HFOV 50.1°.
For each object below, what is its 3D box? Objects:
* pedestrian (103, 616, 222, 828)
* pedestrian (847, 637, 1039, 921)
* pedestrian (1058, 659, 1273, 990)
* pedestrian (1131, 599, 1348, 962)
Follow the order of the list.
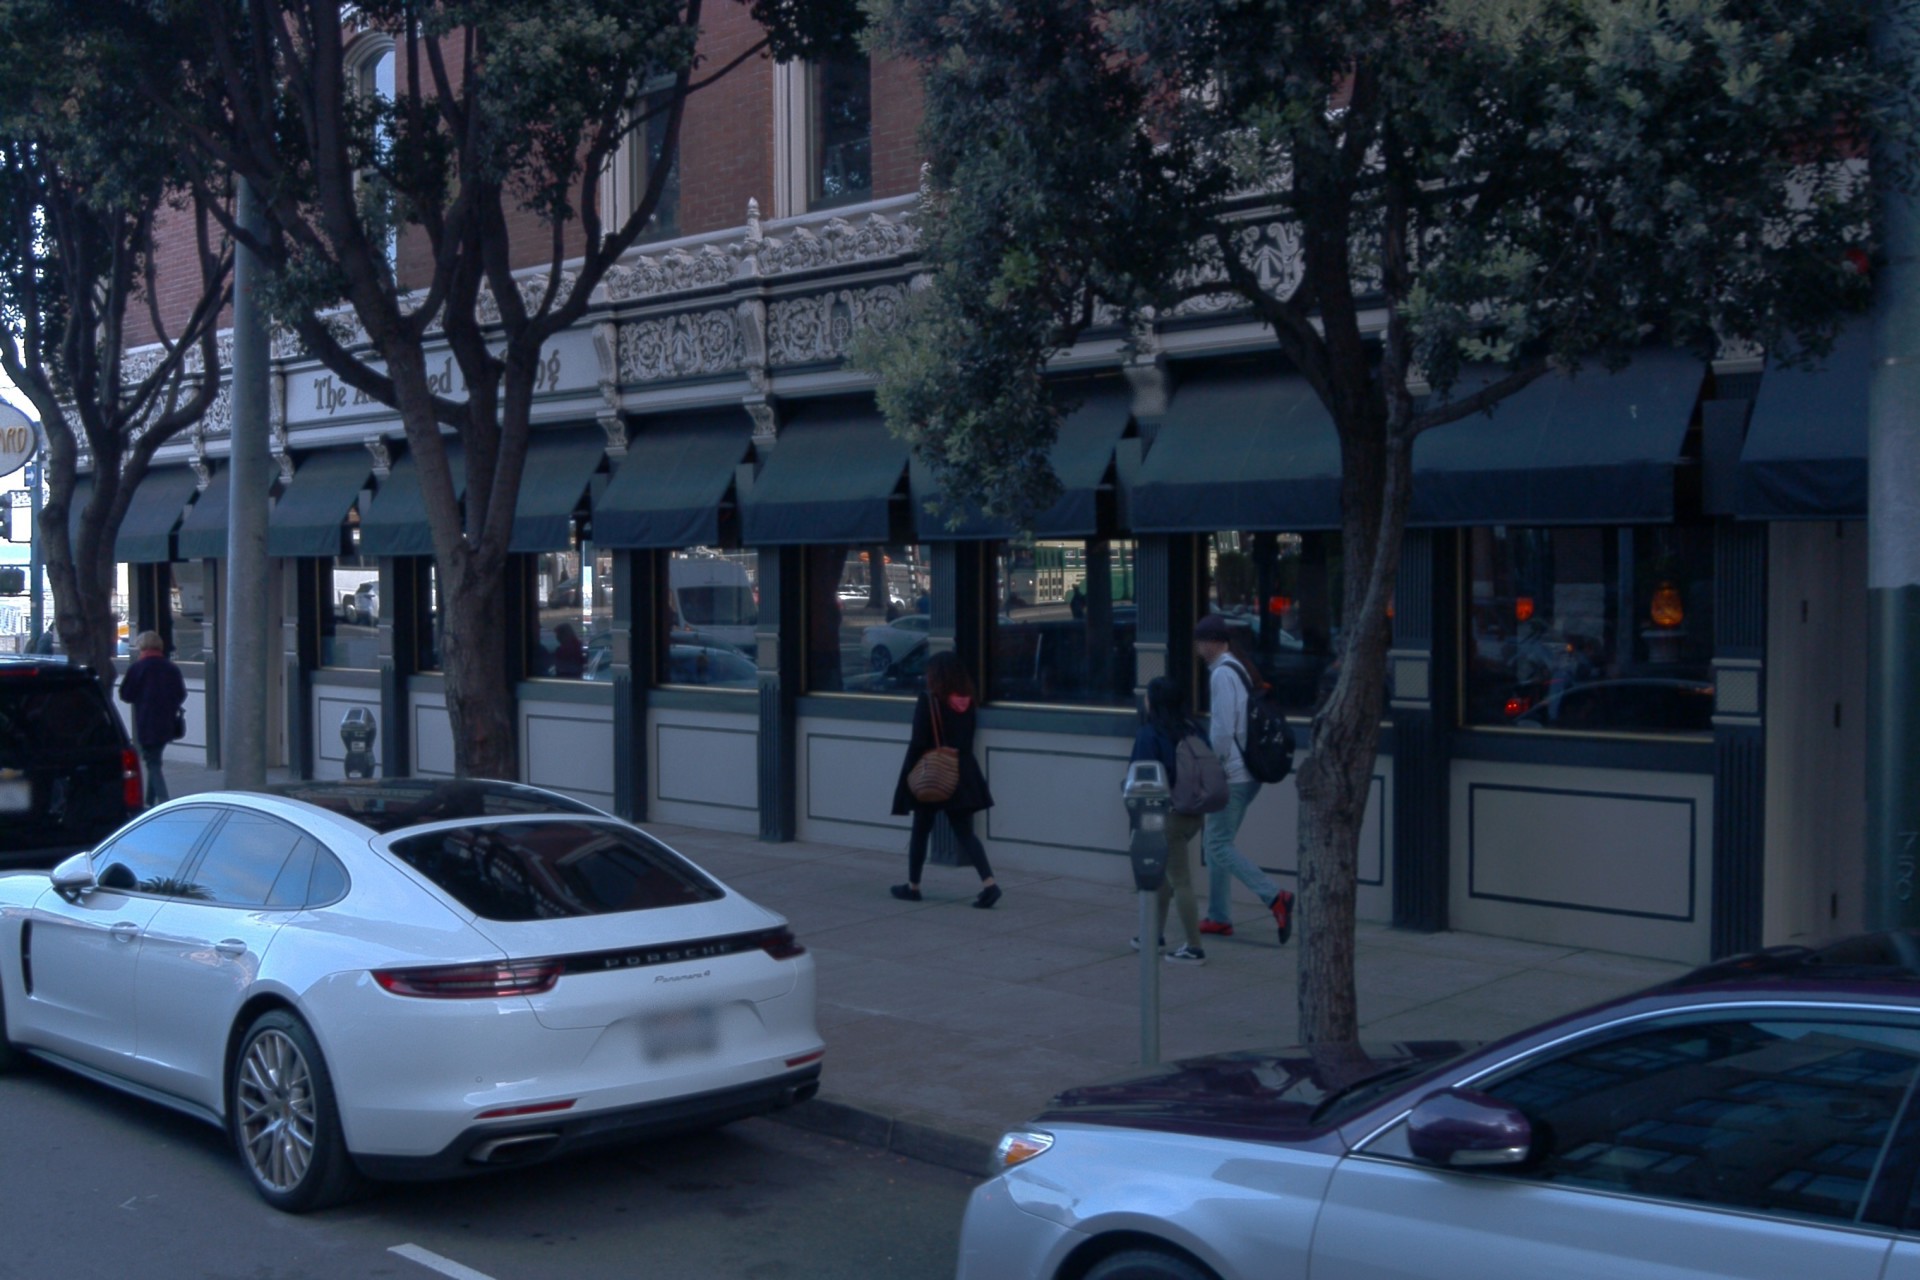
[{"bbox_3d":[-7.335,0.731,18.905,0.814,1.890,0.726,0,0,43],"label":"pedestrian"},{"bbox_3d":[-0.107,0.834,12.908,0.934,1.690,0.759,0,0,44],"label":"pedestrian"},{"bbox_3d":[1.090,0.934,10.932,0.895,1.650,0.692,0,0,44],"label":"pedestrian"},{"bbox_3d":[1.560,0.738,11.484,0.917,1.920,0.771,0,0,44],"label":"pedestrian"}]
